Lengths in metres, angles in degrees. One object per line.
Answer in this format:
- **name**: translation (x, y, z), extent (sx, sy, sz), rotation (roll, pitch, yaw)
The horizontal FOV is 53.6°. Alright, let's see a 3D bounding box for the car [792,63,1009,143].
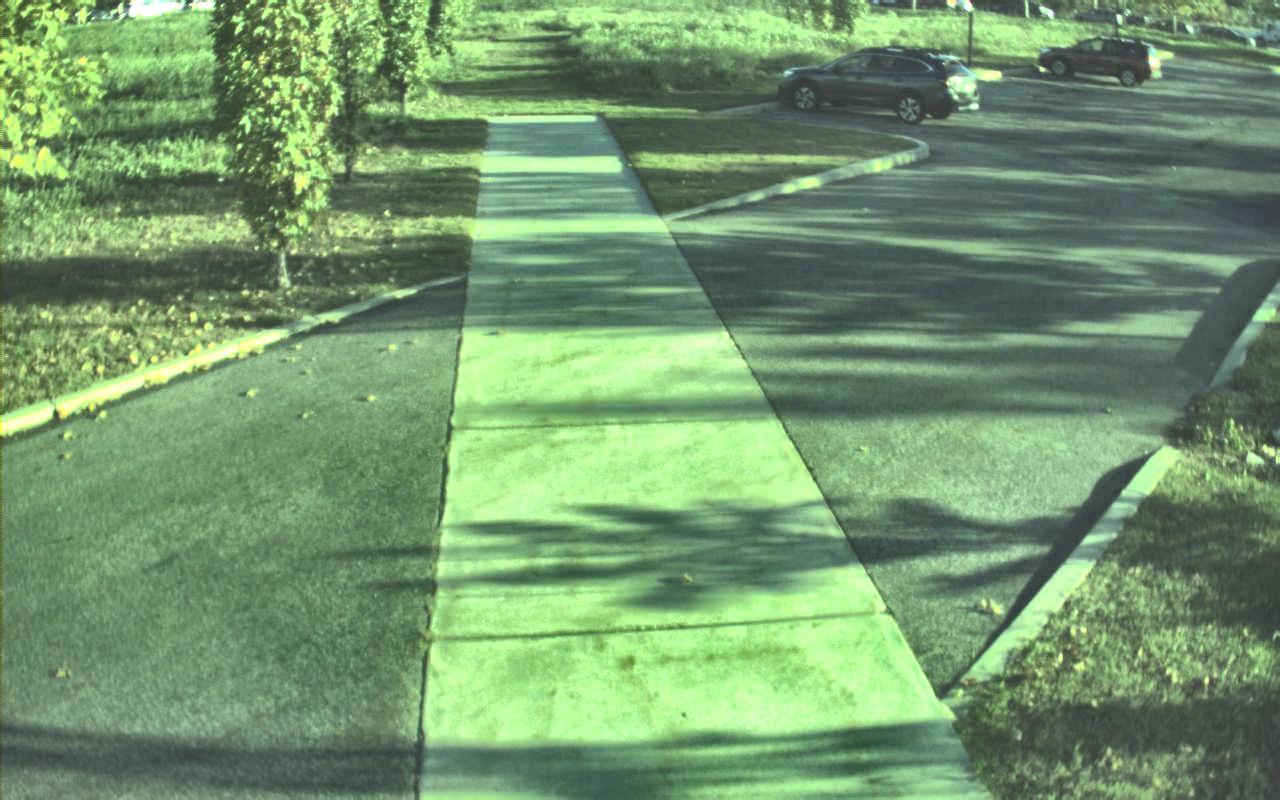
- **car**: translation (5.999, -6.895, 28.177), extent (4.701, 1.637, 2.017), rotation (11, 19, 38)

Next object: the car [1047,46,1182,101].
- **car**: translation (17.142, -11.696, 41.823), extent (4.810, 1.667, 2.037), rotation (9, 18, 33)
